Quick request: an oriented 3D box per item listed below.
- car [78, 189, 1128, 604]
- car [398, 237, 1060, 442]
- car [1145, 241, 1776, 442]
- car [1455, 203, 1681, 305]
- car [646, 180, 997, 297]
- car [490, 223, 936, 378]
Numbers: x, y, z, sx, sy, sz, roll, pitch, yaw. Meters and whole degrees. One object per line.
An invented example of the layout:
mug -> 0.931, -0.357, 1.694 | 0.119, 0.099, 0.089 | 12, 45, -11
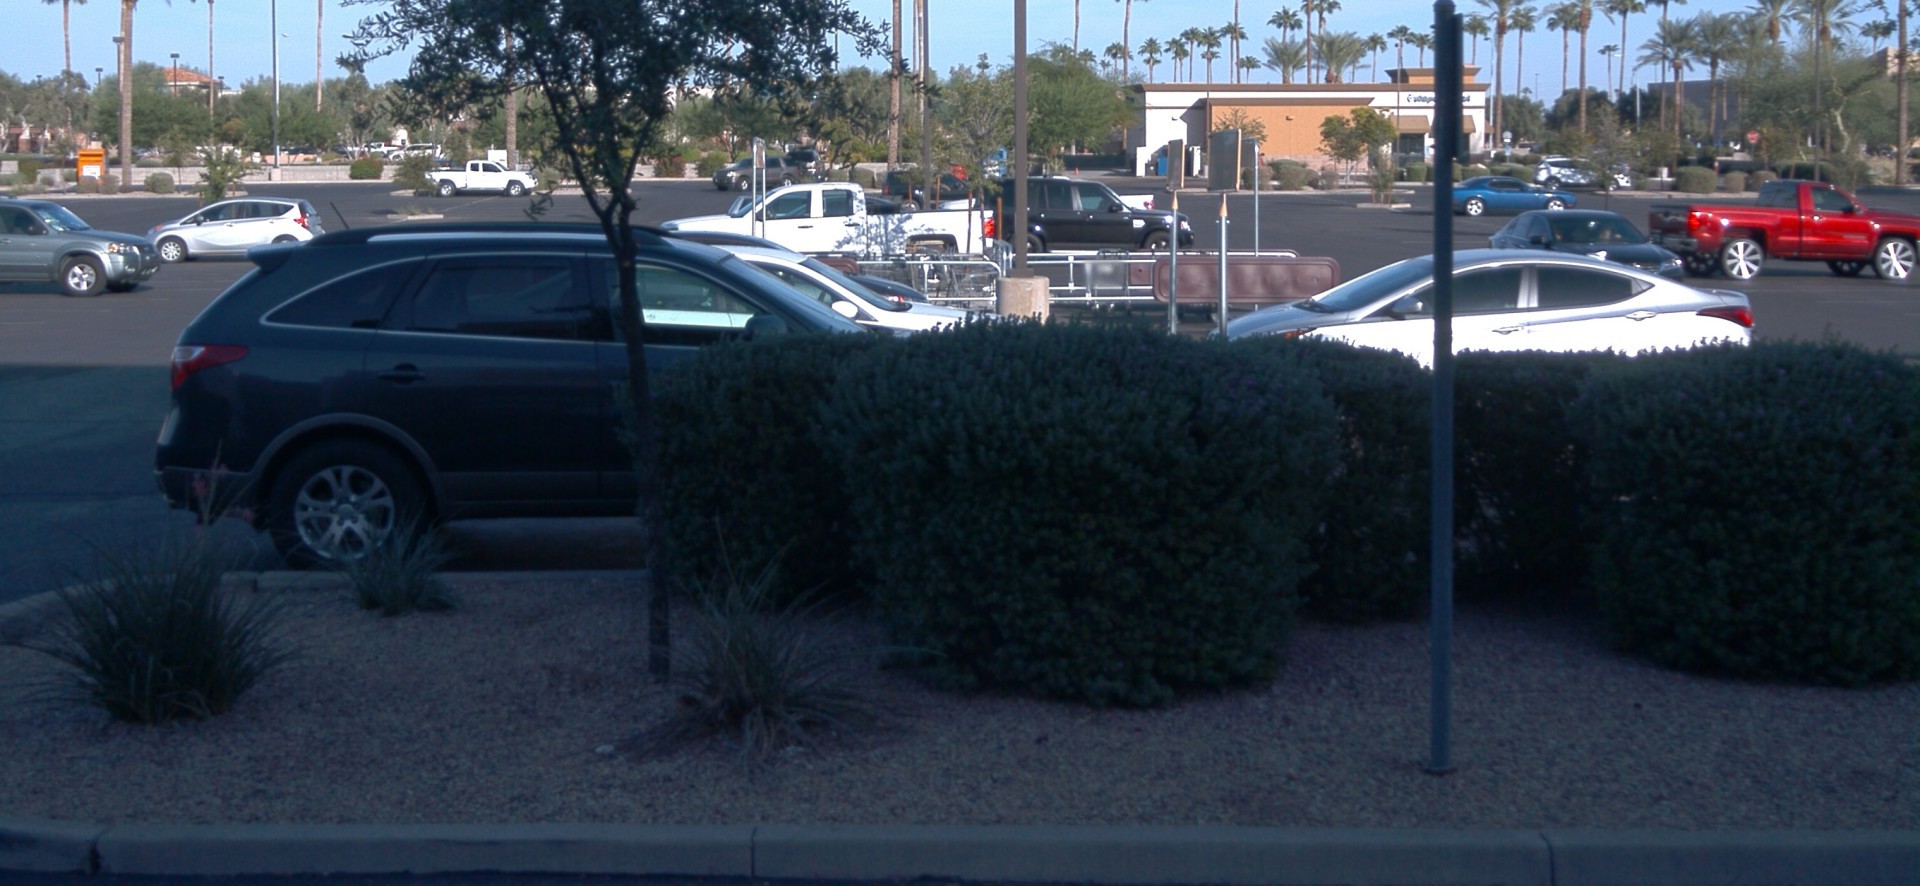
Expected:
car -> -1.784, -0.378, 11.283 | 5.084, 1.983, 2.251 | -1, 4, -5
car -> -1.806, -0.905, 16.893 | 5.017, 1.494, 2.199 | -1, 5, -4
car -> 4.017, -0.900, 17.172 | 4.668, 1.484, 2.080 | -1, 5, -5
car -> 9.607, -3.083, 33.197 | 1.998, 1.491, 4.779 | 0, 6, -3
car -> -2.434, -3.587, 36.023 | 5.889, 1.943, 2.294 | -1, 4, -7
car -> -2.659, -1.612, 22.690 | 4.616, 1.554, 2.213 | -1, 5, -6
